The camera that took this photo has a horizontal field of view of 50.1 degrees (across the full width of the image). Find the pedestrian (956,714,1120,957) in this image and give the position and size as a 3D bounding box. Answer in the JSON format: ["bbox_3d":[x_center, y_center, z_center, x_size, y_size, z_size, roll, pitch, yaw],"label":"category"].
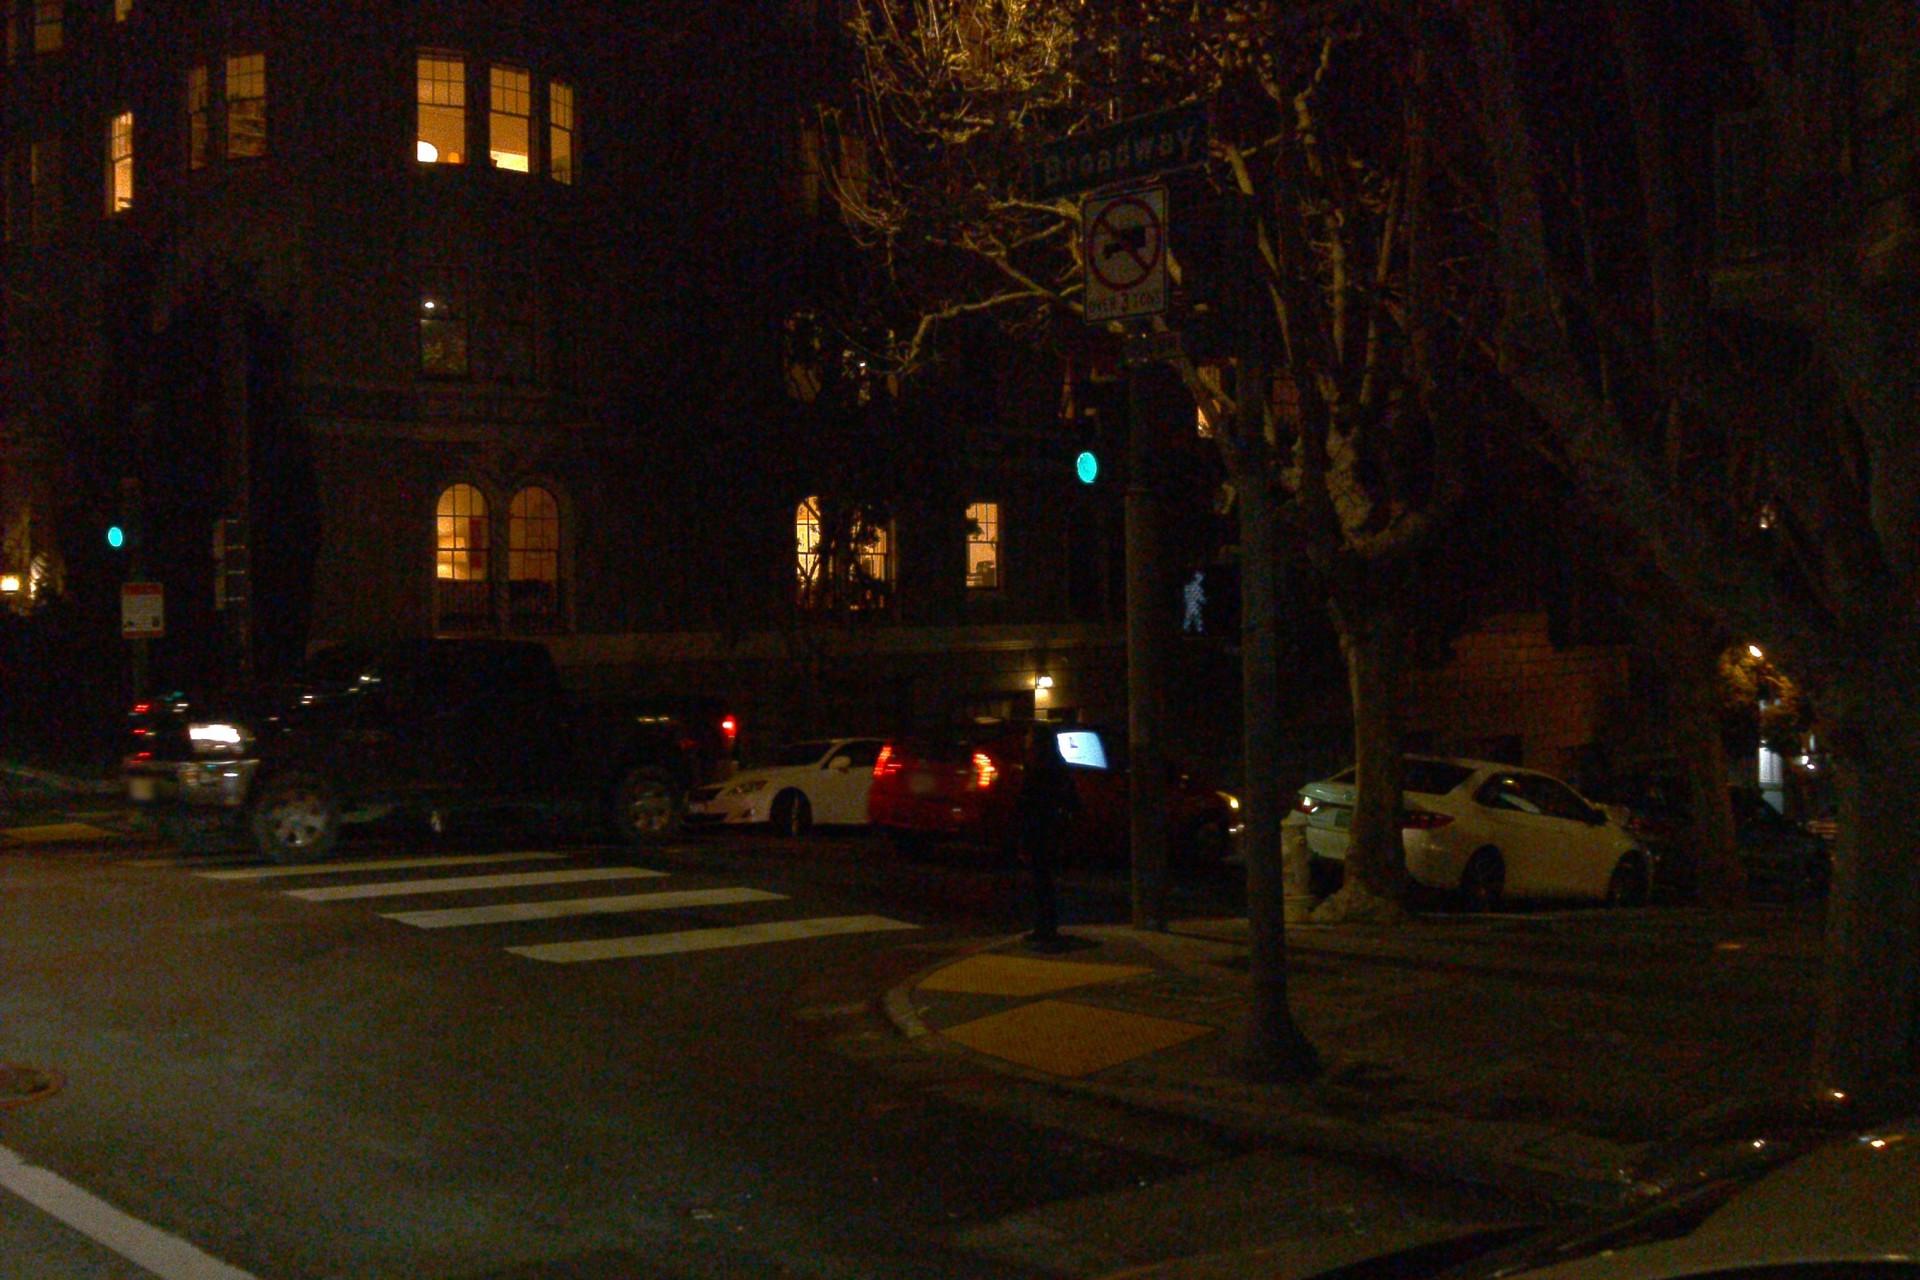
[{"bbox_3d":[0.537,1.323,14.242,0.707,1.570,0.903,0,0,-38],"label":"pedestrian"}]

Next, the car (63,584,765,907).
[{"bbox_3d":[-4.983,0.844,19.526,2.553,2.592,5.958,1,0,45],"label":"car"}]

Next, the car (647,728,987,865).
[{"bbox_3d":[-1.844,2.033,27.685,1.919,1.482,4.488,1,0,42],"label":"car"}]

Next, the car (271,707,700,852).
[{"bbox_3d":[-5.400,1.537,23.893,1.838,1.362,4.644,1,0,42],"label":"car"}]

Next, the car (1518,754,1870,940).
[{"bbox_3d":[8.912,2.379,24.707,4.887,1.744,1.990,0,0,-44],"label":"car"}]

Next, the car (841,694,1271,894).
[{"bbox_3d":[1.096,1.485,21.320,1.923,1.730,4.526,1,0,44],"label":"car"}]

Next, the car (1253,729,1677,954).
[{"bbox_3d":[5.163,1.902,20.643,4.554,1.811,1.990,0,0,-44],"label":"car"}]
